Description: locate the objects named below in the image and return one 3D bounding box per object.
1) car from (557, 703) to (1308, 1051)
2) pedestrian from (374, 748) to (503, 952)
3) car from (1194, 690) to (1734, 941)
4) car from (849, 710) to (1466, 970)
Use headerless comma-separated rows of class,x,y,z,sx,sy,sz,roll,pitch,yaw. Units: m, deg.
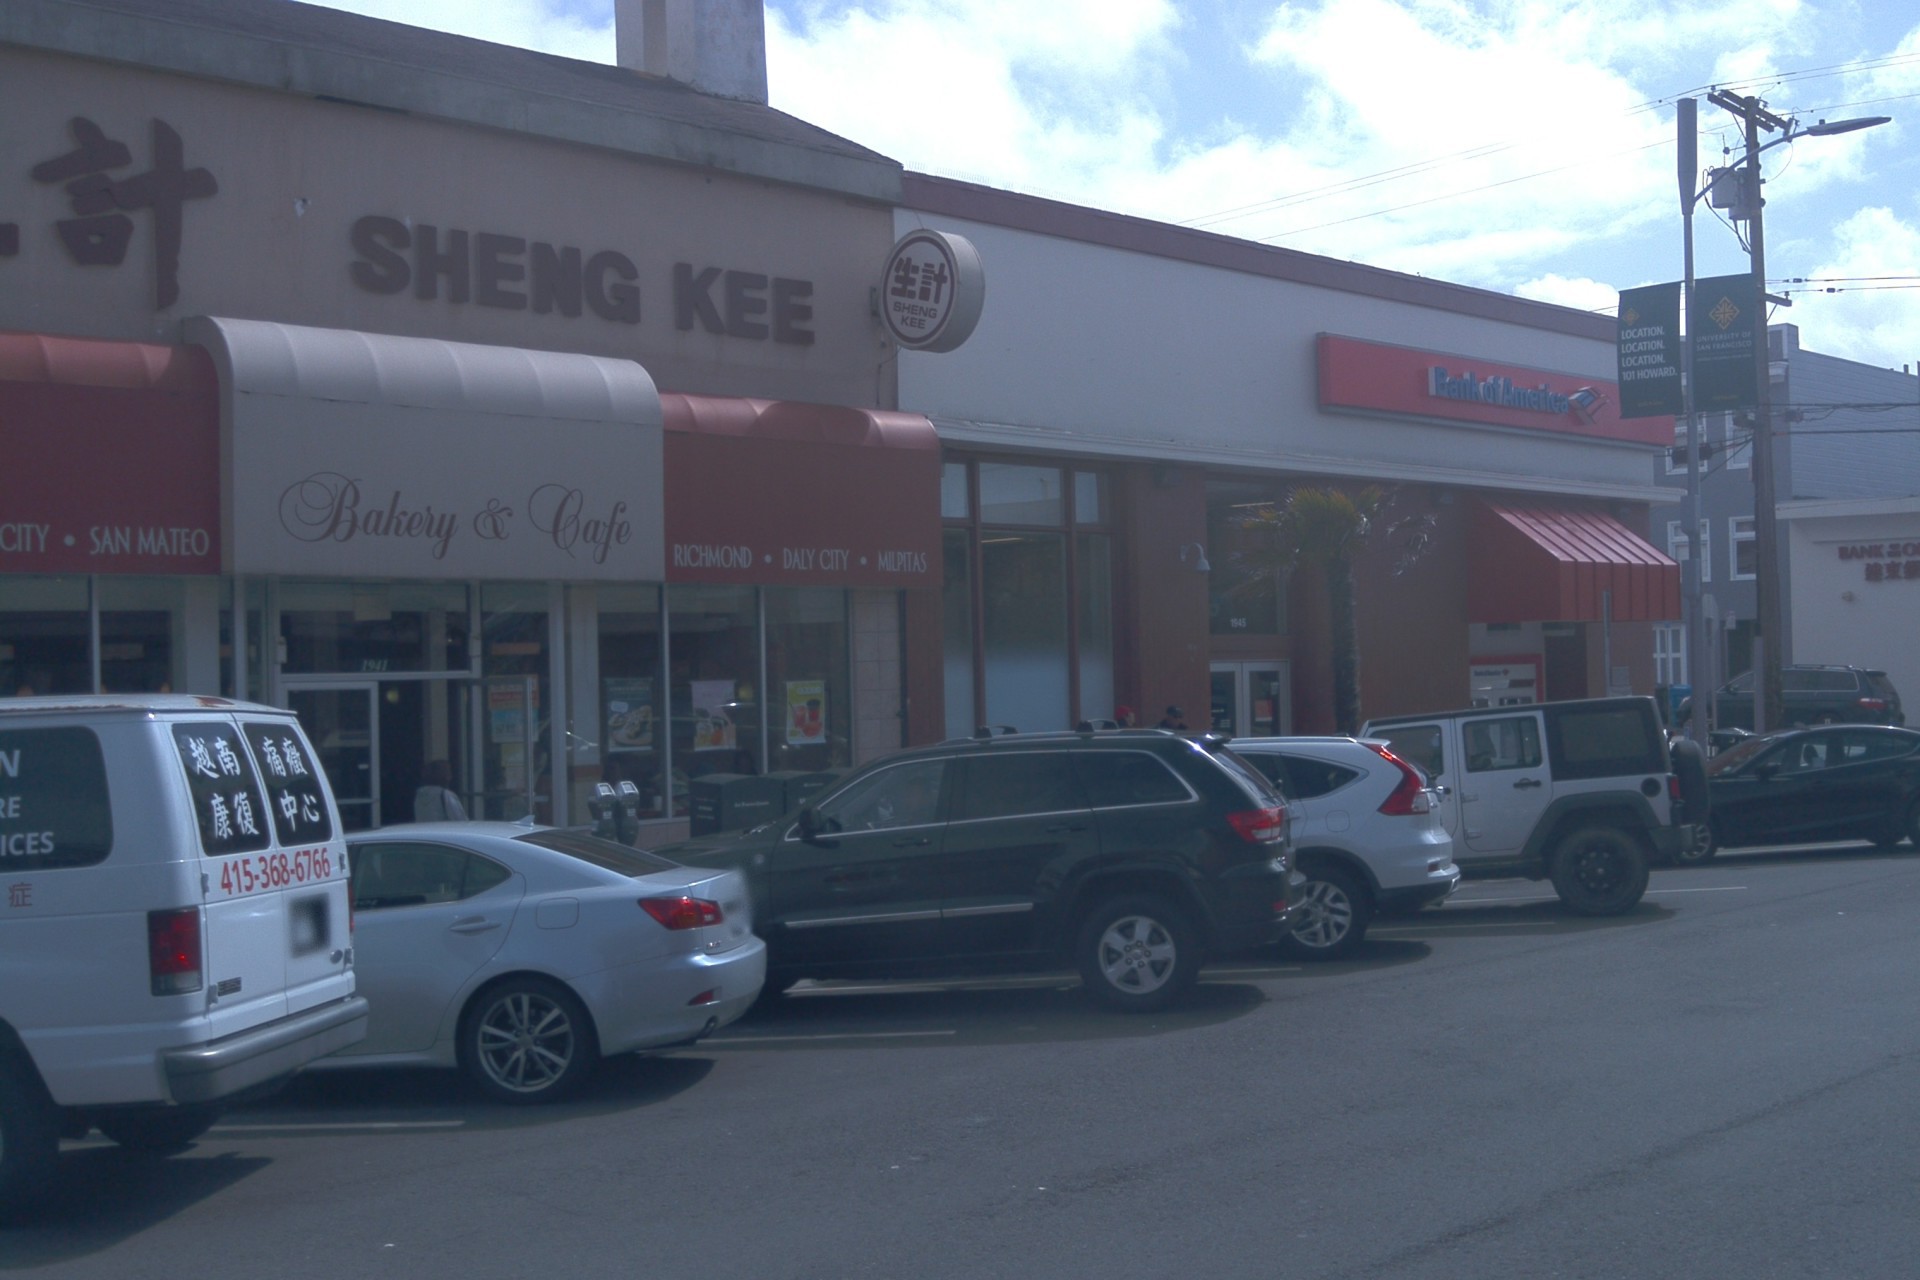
car,-0.038,1.443,13.716,4.608,1.970,2.237,0,0,8
pedestrian,-4.205,1.668,16.769,0.683,1.537,0.764,0,0,44
car,4.383,1.468,18.376,4.390,1.976,2.028,0,0,12
car,1.607,1.455,16.084,4.474,1.720,2.128,0,0,13
